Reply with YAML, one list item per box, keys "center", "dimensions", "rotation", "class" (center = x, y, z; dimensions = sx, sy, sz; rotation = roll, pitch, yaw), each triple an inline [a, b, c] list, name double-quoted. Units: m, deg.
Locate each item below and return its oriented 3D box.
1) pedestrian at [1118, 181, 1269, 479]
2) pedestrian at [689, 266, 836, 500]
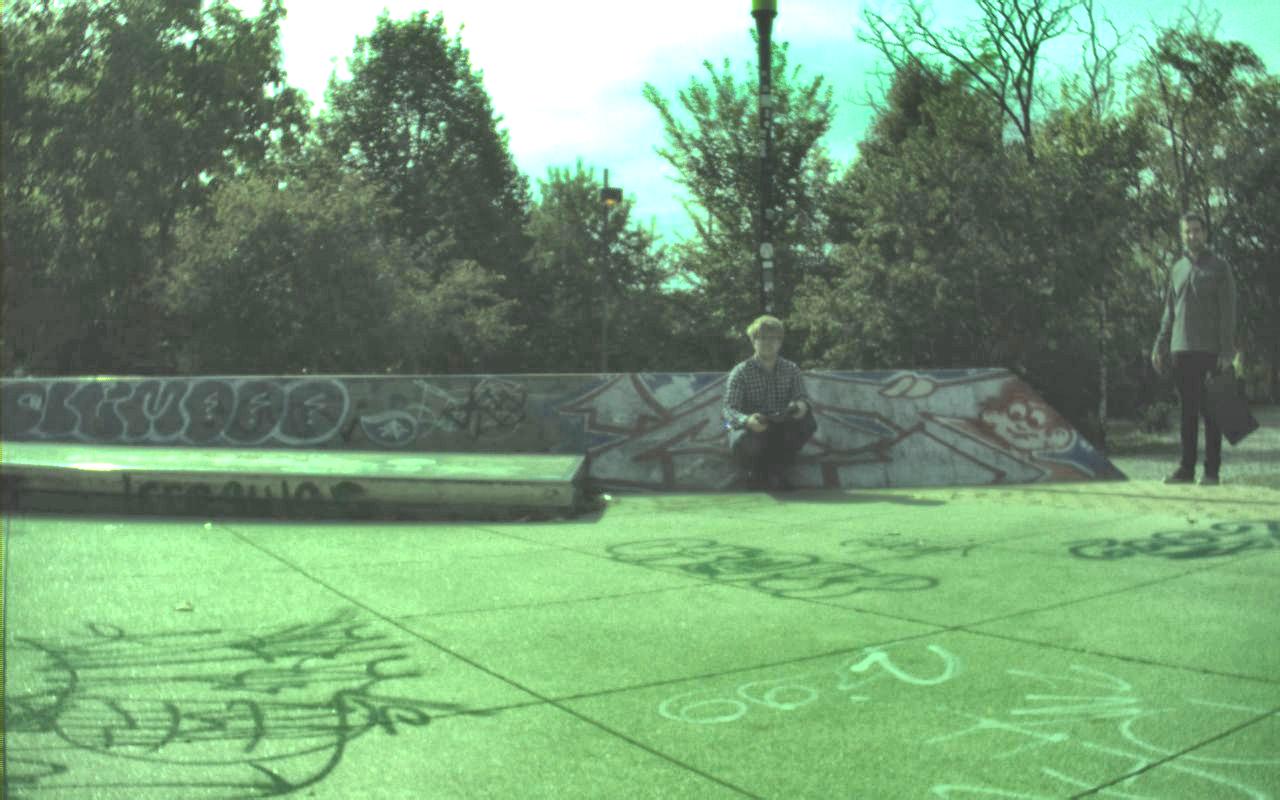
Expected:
- center: [3.568, -0.417, 7.423]
  dimensions: [0.785, 1.798, 0.794]
  rotation: [0, 0, -42]
  class: "pedestrian"
- center: [0.801, -0.113, 8.086]
  dimensions: [0.884, 1.426, 0.842]
  rotation: [0, 0, 7]
  class: "pedestrian"
